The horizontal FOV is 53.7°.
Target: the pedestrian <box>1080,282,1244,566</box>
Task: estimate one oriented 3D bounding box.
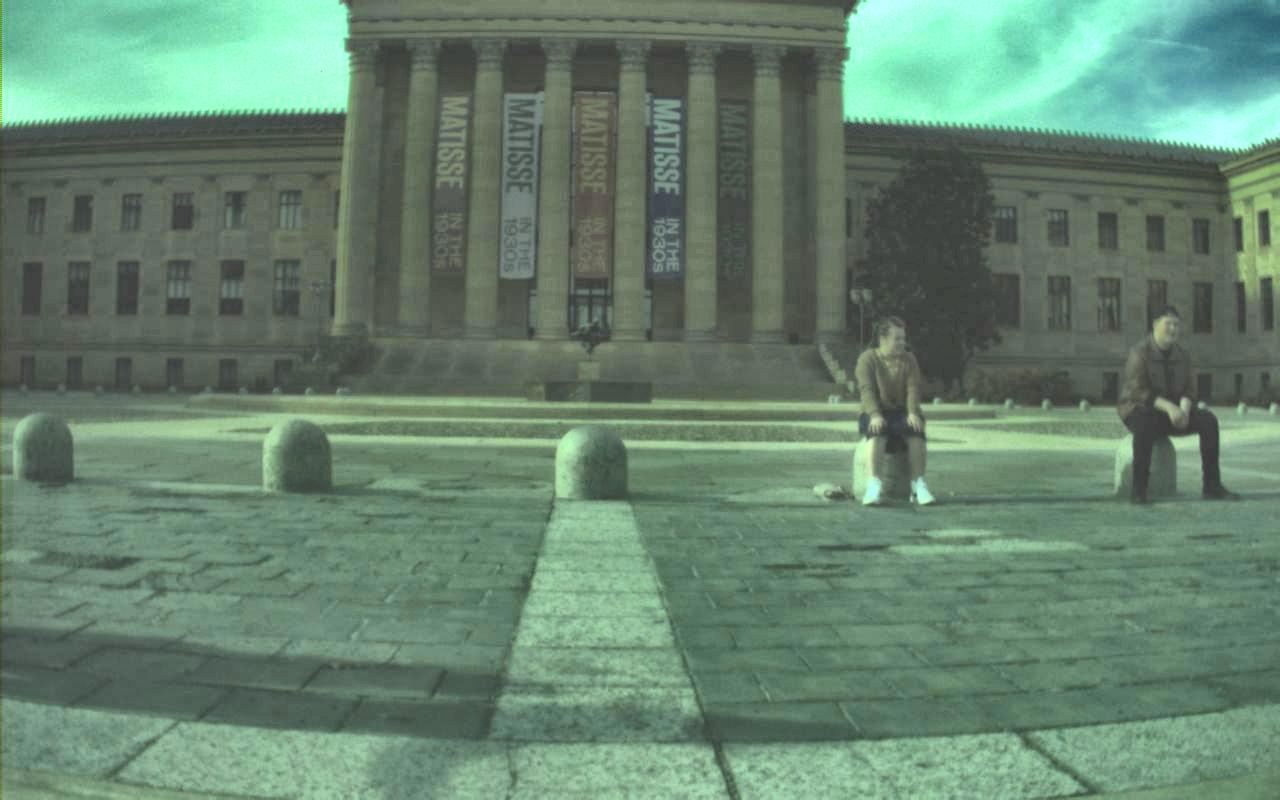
[{"bbox_3d":[3.497,0.163,7.864,0.860,1.792,0.859,0,0,-2],"label":"pedestrian"}]

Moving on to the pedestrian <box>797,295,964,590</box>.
[{"bbox_3d":[1.551,0.249,7.923,0.838,1.766,0.830,1,0,28],"label":"pedestrian"}]
